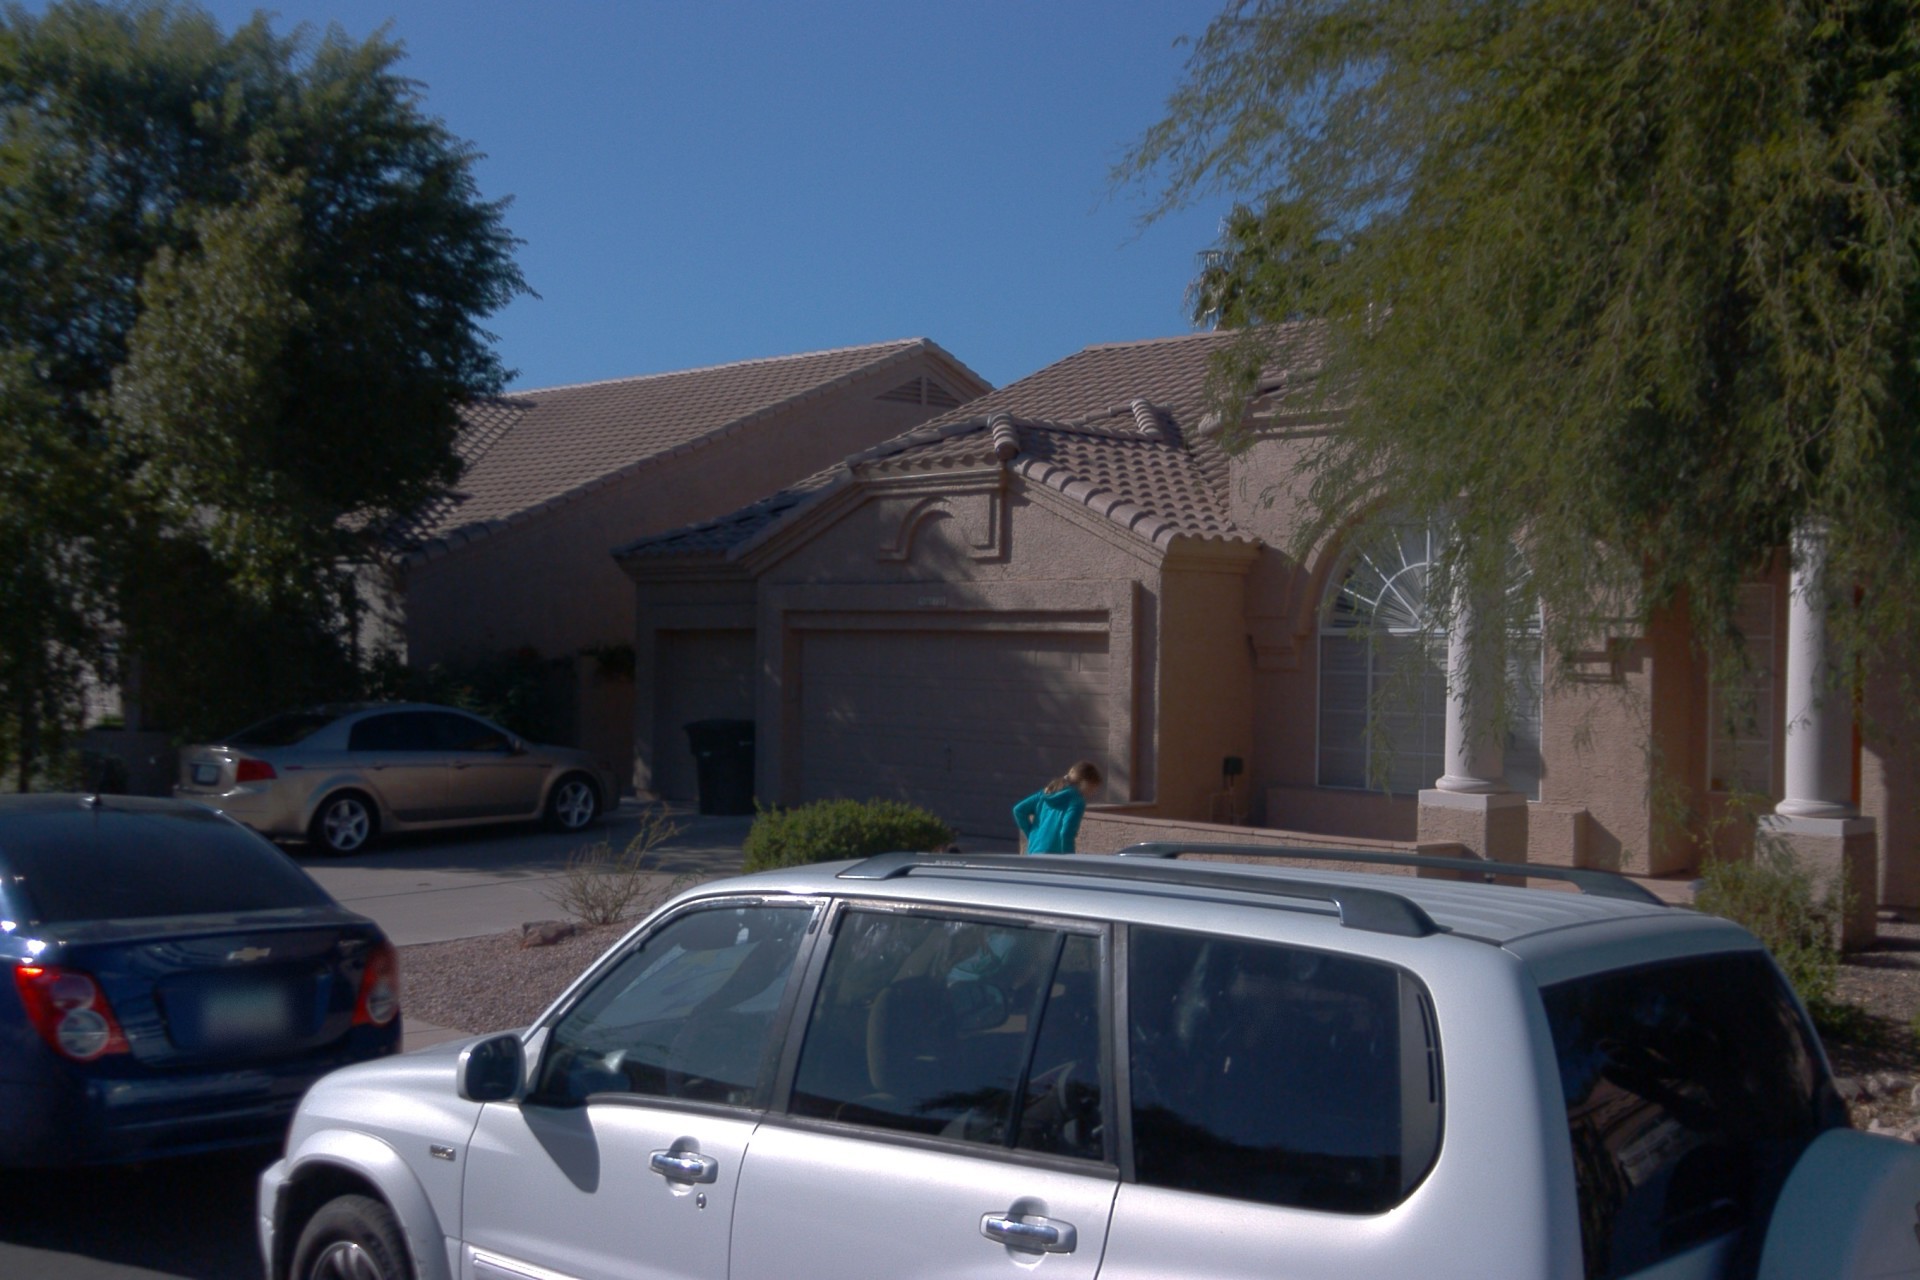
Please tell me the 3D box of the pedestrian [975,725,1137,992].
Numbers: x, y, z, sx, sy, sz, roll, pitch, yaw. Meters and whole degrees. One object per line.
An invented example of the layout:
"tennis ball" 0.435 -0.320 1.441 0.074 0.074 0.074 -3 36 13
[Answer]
"pedestrian" 0.569 1.270 12.418 0.674 1.500 0.672 1 0 -38

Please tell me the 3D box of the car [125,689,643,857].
"car" -5.809 1.270 21.464 2.102 1.460 4.735 0 0 43
